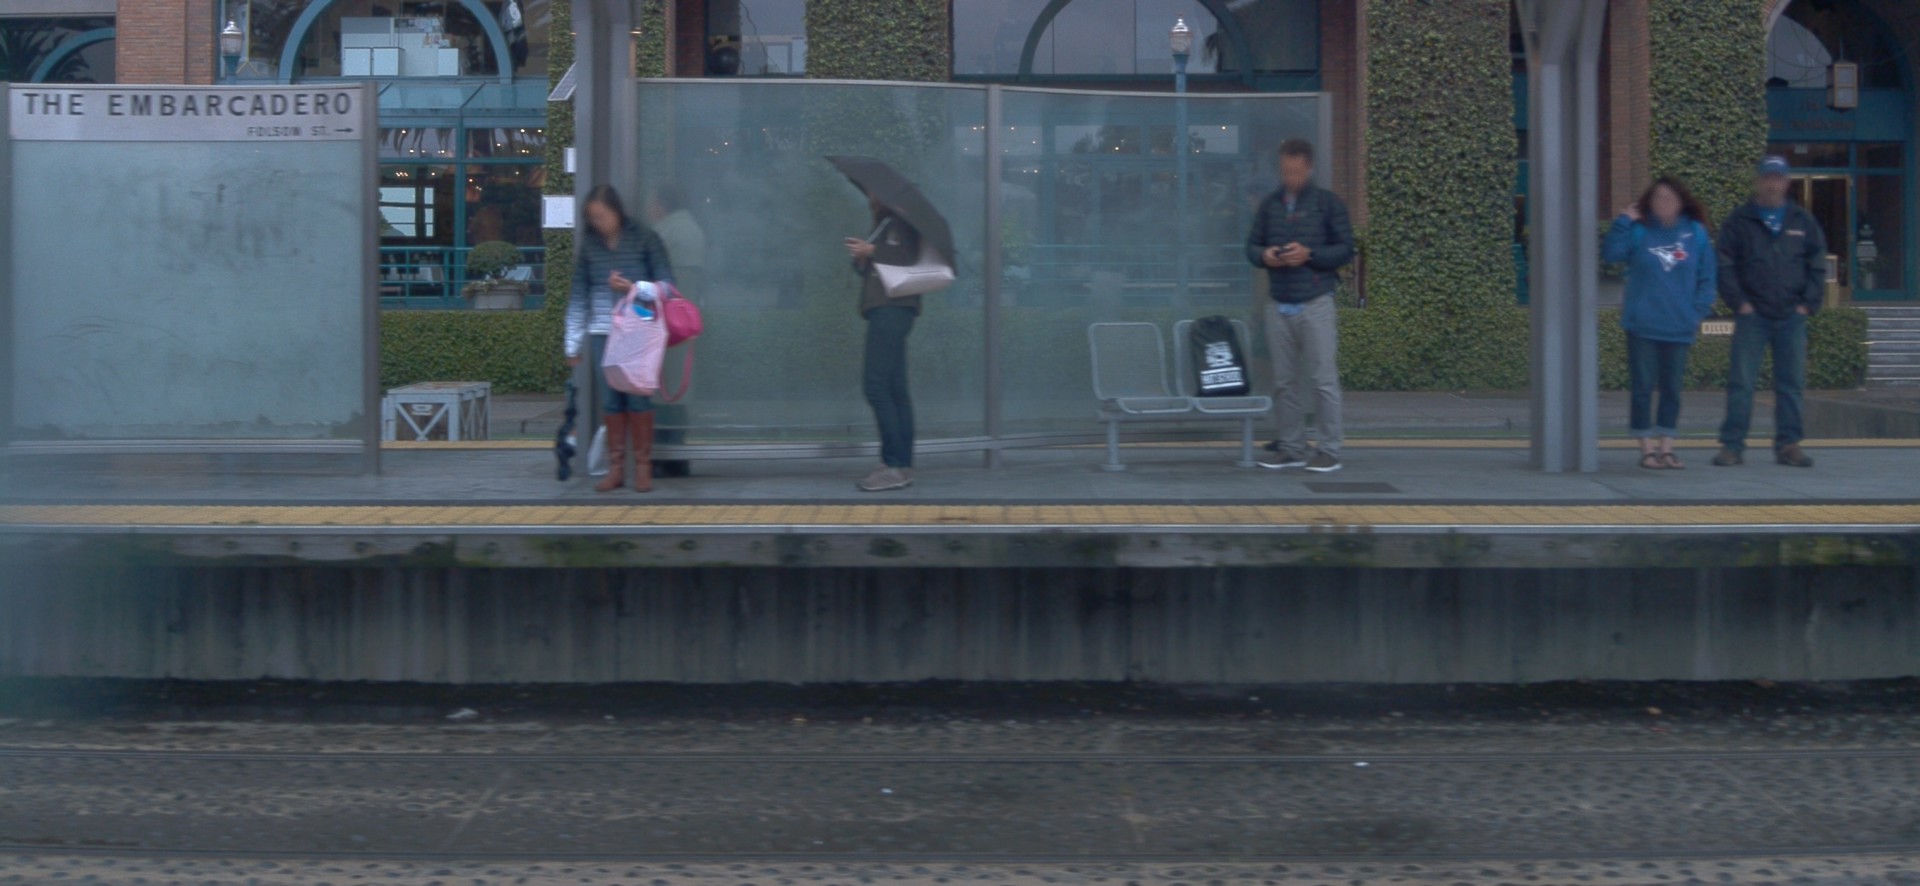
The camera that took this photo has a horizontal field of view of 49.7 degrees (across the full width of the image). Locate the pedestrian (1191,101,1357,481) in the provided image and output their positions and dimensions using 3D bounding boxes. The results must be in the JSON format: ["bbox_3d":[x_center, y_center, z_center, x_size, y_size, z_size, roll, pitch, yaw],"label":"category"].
[{"bbox_3d":[1.735,-0.852,11.433,0.624,2.008,0.721,1,1,38],"label":"pedestrian"}]

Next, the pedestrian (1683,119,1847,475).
[{"bbox_3d":[4.511,-0.836,11.665,0.776,1.930,0.705,0,1,14],"label":"pedestrian"}]

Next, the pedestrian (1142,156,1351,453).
[{"bbox_3d":[1.725,-0.865,12.675,1.098,1.729,1.109,0,2,-2],"label":"pedestrian"}]

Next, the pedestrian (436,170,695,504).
[{"bbox_3d":[-1.986,-0.569,10.514,0.947,1.599,0.882,1,2,25],"label":"pedestrian"}]

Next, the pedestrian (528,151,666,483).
[{"bbox_3d":[-1.984,-0.705,11.295,0.712,1.740,0.727,0,1,-11],"label":"pedestrian"}]

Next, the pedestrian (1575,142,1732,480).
[{"bbox_3d":[3.851,-0.755,11.571,0.776,1.810,0.705,0,1,14],"label":"pedestrian"}]

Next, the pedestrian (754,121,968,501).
[{"bbox_3d":[-0.485,-0.699,10.683,1.047,1.866,0.956,0,1,0],"label":"pedestrian"}]
